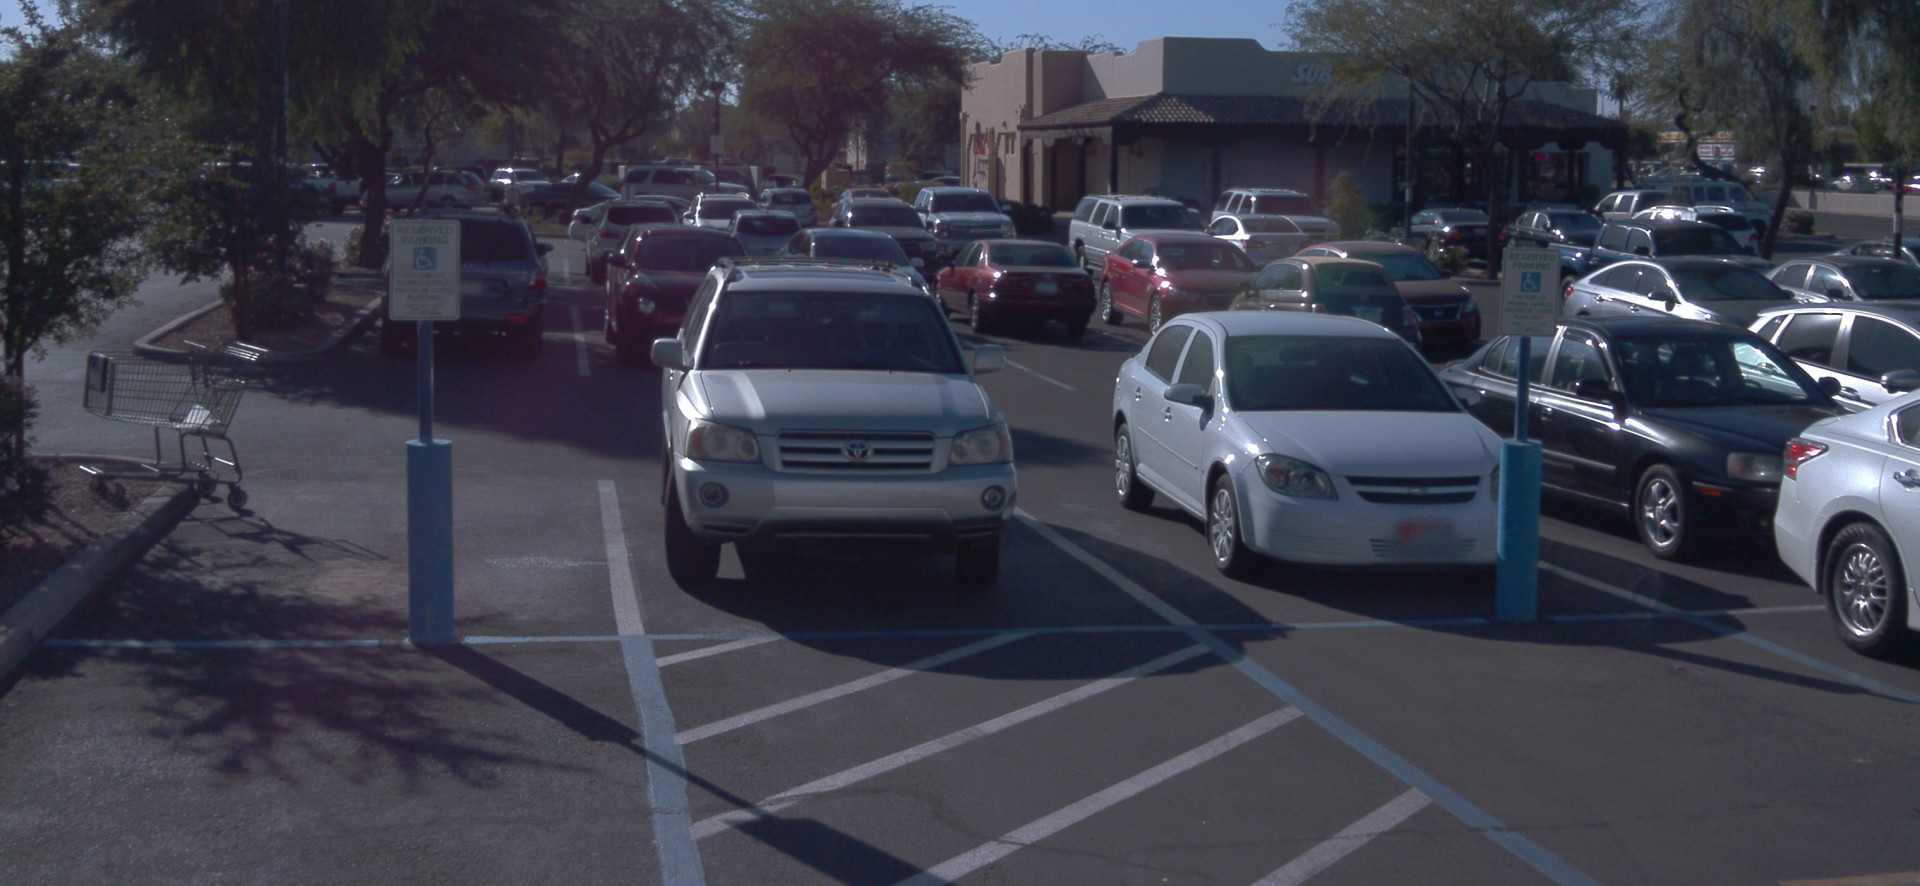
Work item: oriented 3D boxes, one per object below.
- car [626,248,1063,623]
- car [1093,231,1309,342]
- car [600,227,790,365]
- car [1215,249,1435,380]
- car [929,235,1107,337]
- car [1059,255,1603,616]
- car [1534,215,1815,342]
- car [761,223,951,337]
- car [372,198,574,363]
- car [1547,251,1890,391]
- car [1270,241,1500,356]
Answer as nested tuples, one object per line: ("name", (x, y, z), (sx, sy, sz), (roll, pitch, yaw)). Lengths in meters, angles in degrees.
("car", (-0.933, -0.263, 12.747), (2.172, 1.782, 4.704), (0, 5, -10))
("car", (3.675, -2.520, 32.597), (2.091, 1.563, 4.901), (0, 6, -10))
("car", (-3.323, -1.867, 25.422), (1.985, 1.523, 4.056), (0, 5, -12))
("car", (4.707, -1.746, 27.292), (1.734, 1.533, 3.835), (0, 5, -9))
("car", (0.818, -2.489, 32.250), (1.910, 1.433, 4.251), (0, 6, -11))
("car", (2.094, -0.251, 13.240), (1.997, 1.802, 4.578), (0, 5, -10))
("car", (11.558, -2.763, 34.042), (2.091, 1.901, 5.328), (0, 6, -9))
("car", (-1.655, -2.520, 31.360), (2.017, 1.583, 4.458), (0, 6, -14))
("car", (-5.927, -2.014, 24.881), (2.106, 1.772, 4.418), (-1, 5, -17))
("car", (9.894, -1.702, 27.558), (2.185, 1.602, 4.838), (0, 6, -9))
("car", (6.452, -2.295, 32.046), (2.015, 1.593, 4.463), (0, 6, -10))
